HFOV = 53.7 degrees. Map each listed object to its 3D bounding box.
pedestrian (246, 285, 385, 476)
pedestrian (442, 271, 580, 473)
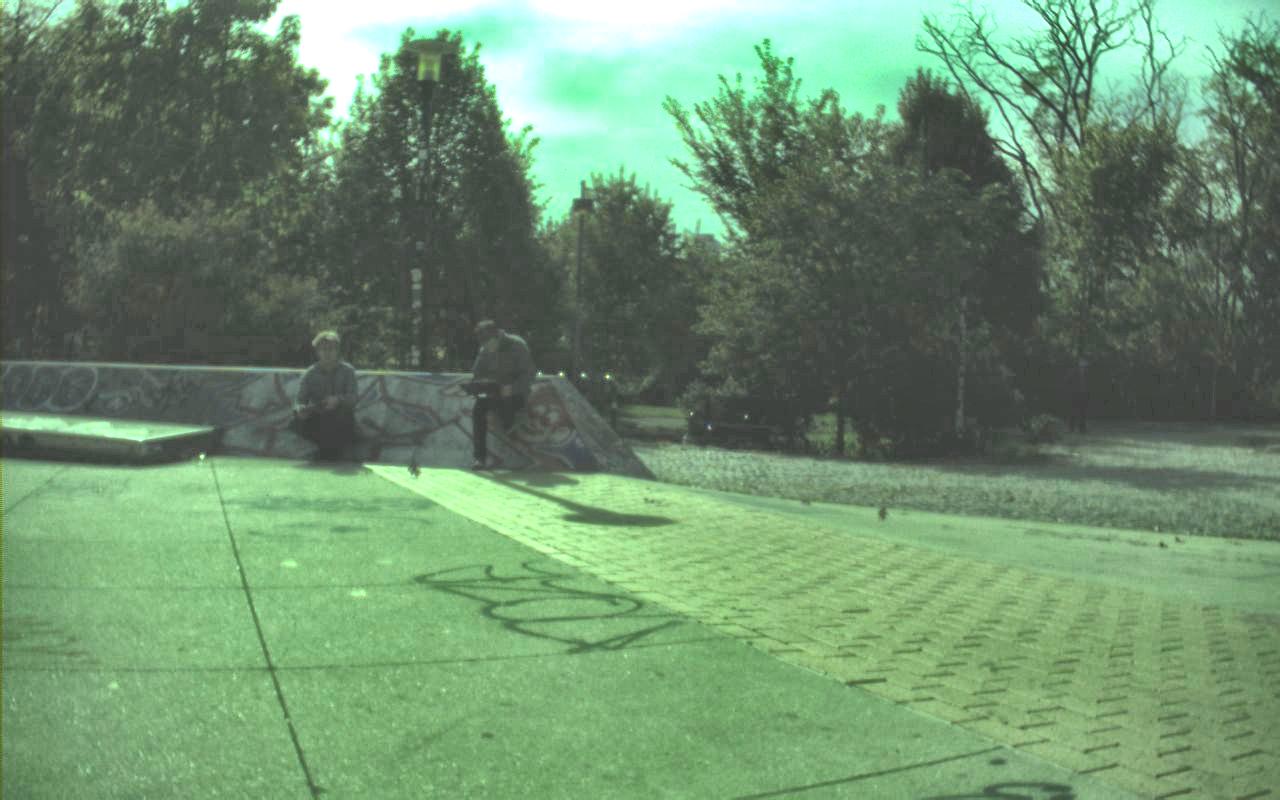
[{"bbox_3d":[-2.778,-0.164,10.457,0.880,1.537,0.841,1,0,24],"label":"pedestrian"},{"bbox_3d":[-1.082,-0.227,10.423,0.862,1.586,0.838,0,0,-32],"label":"pedestrian"}]
